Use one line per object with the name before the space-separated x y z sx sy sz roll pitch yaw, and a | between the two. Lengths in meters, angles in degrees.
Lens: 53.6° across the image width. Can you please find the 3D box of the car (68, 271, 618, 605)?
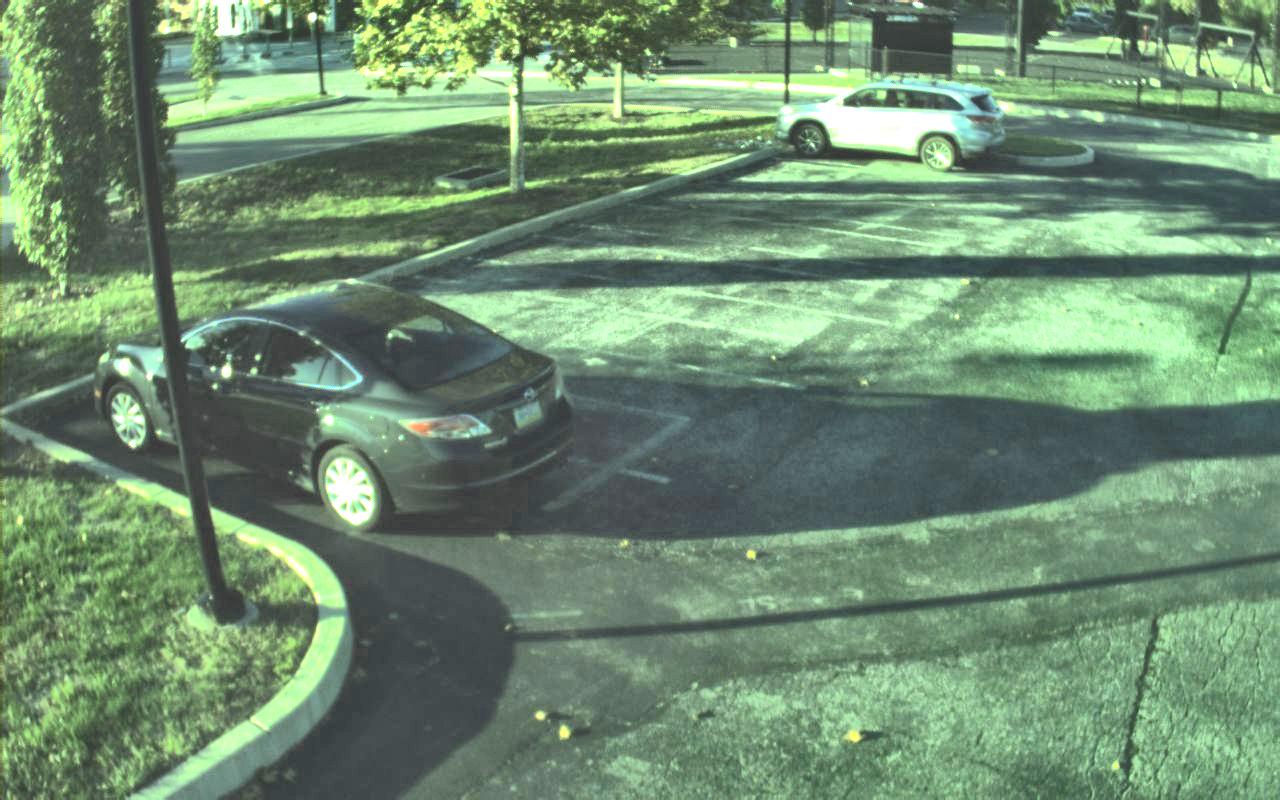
car | -2.652 0.053 9.987 4.604 1.580 1.982 9 18 32

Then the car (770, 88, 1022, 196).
car | 5.325 -5.393 25.367 4.893 1.908 2.083 8 17 29
